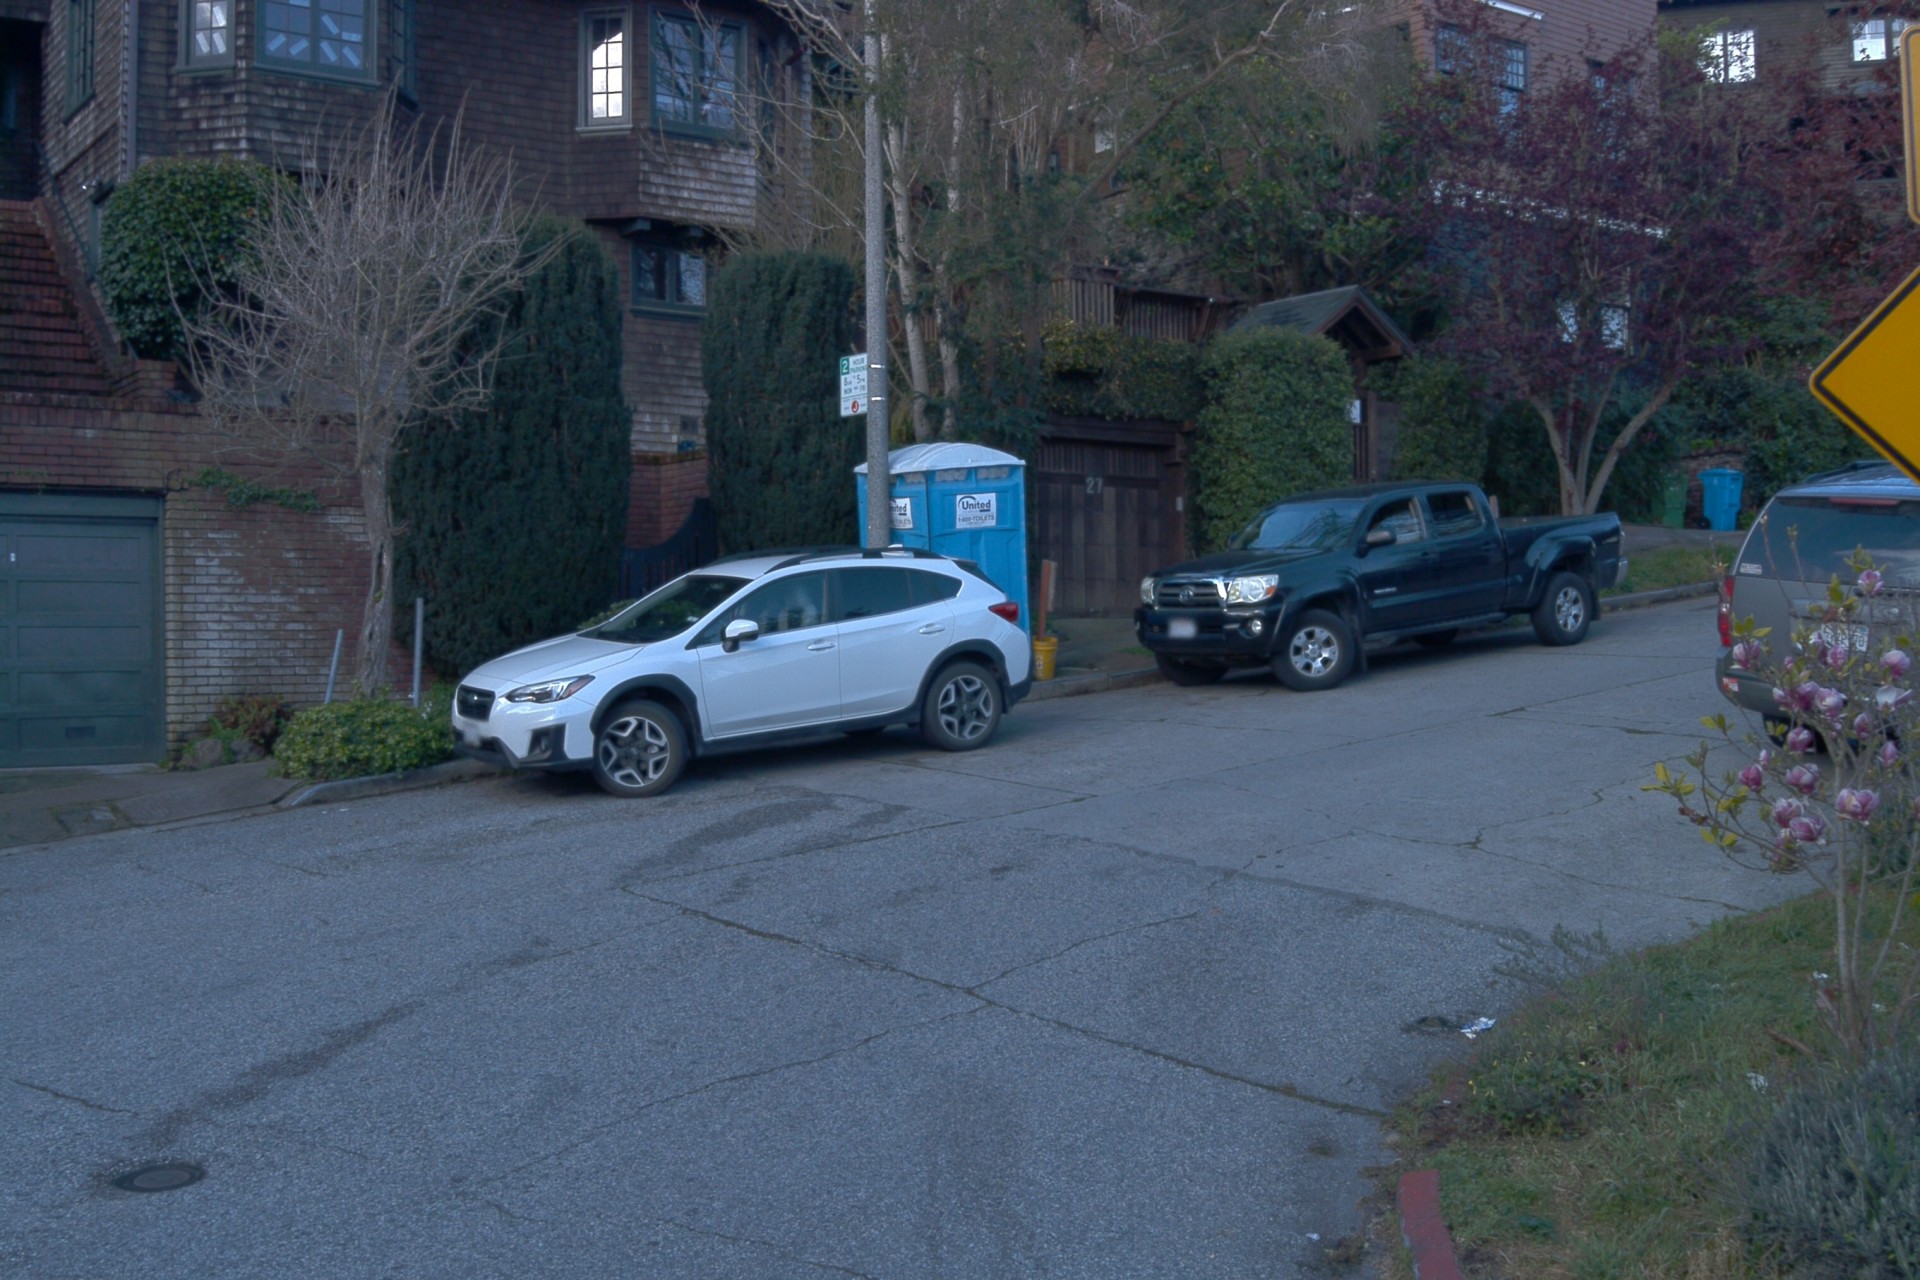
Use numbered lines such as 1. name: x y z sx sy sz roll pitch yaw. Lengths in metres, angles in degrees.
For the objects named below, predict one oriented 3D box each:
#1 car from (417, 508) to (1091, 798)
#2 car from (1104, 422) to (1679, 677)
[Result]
1. car: -1.525 0.088 15.750 4.661 1.919 2.143 0 0 -32
2. car: 4.296 -0.758 19.917 5.768 2.139 2.255 0 0 -38
